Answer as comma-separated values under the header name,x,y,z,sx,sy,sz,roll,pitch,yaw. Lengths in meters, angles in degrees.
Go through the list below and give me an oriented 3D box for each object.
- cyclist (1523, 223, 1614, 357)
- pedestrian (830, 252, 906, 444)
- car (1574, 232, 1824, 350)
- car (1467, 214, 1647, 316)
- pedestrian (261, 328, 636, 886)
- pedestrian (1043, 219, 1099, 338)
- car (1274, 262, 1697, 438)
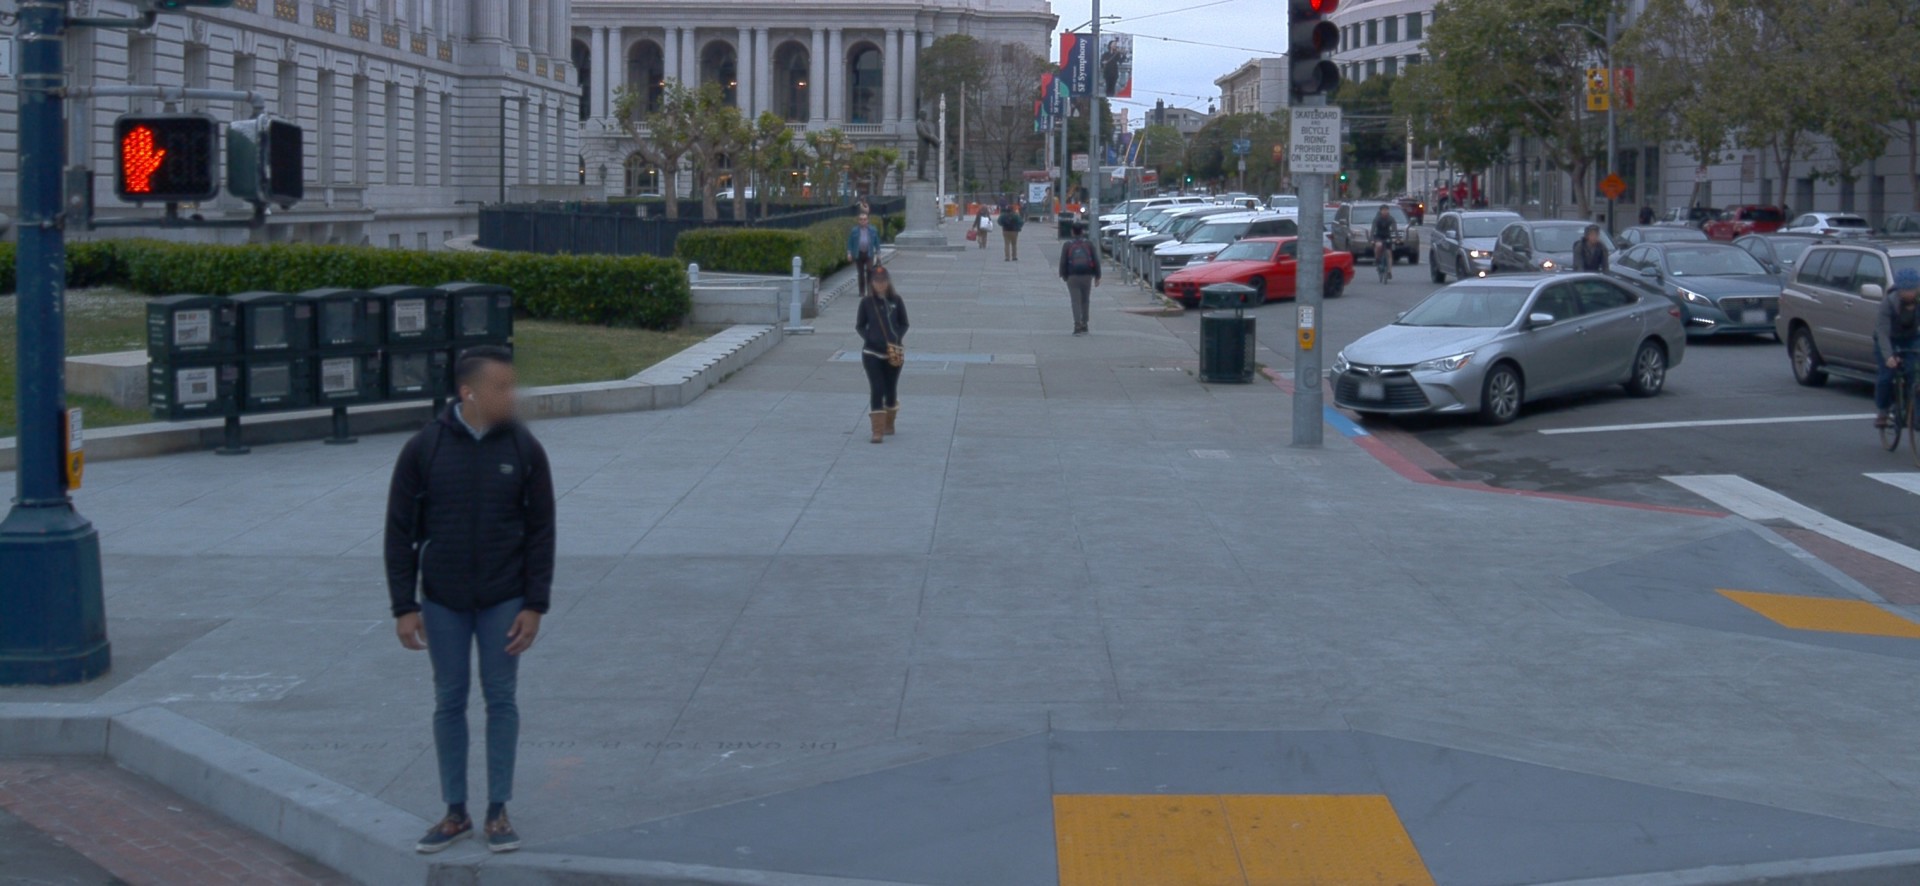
name,x,y,z,sx,sy,sz,roll,pitch,yaw
cyclist,8.757,-2.239,29.695,0.743,1.865,1.862,0,4,-1
pedestrian,-0.824,-0.879,18.602,0.668,1.678,0.873,0,2,-2
car,11.035,-2.368,31.133,2.127,1.619,4.846,0,6,1
car,10.902,-3.330,37.925,2.094,1.746,4.686,0,5,2
pedestrian,-1.735,0.515,7.067,0.832,1.757,0.936,1,2,28
pedestrian,1.744,-2.613,32.457,0.801,1.847,0.879,0,2,-2
car,5.937,-1.139,22.932,4.909,1.660,2.115,-5,6,-40
